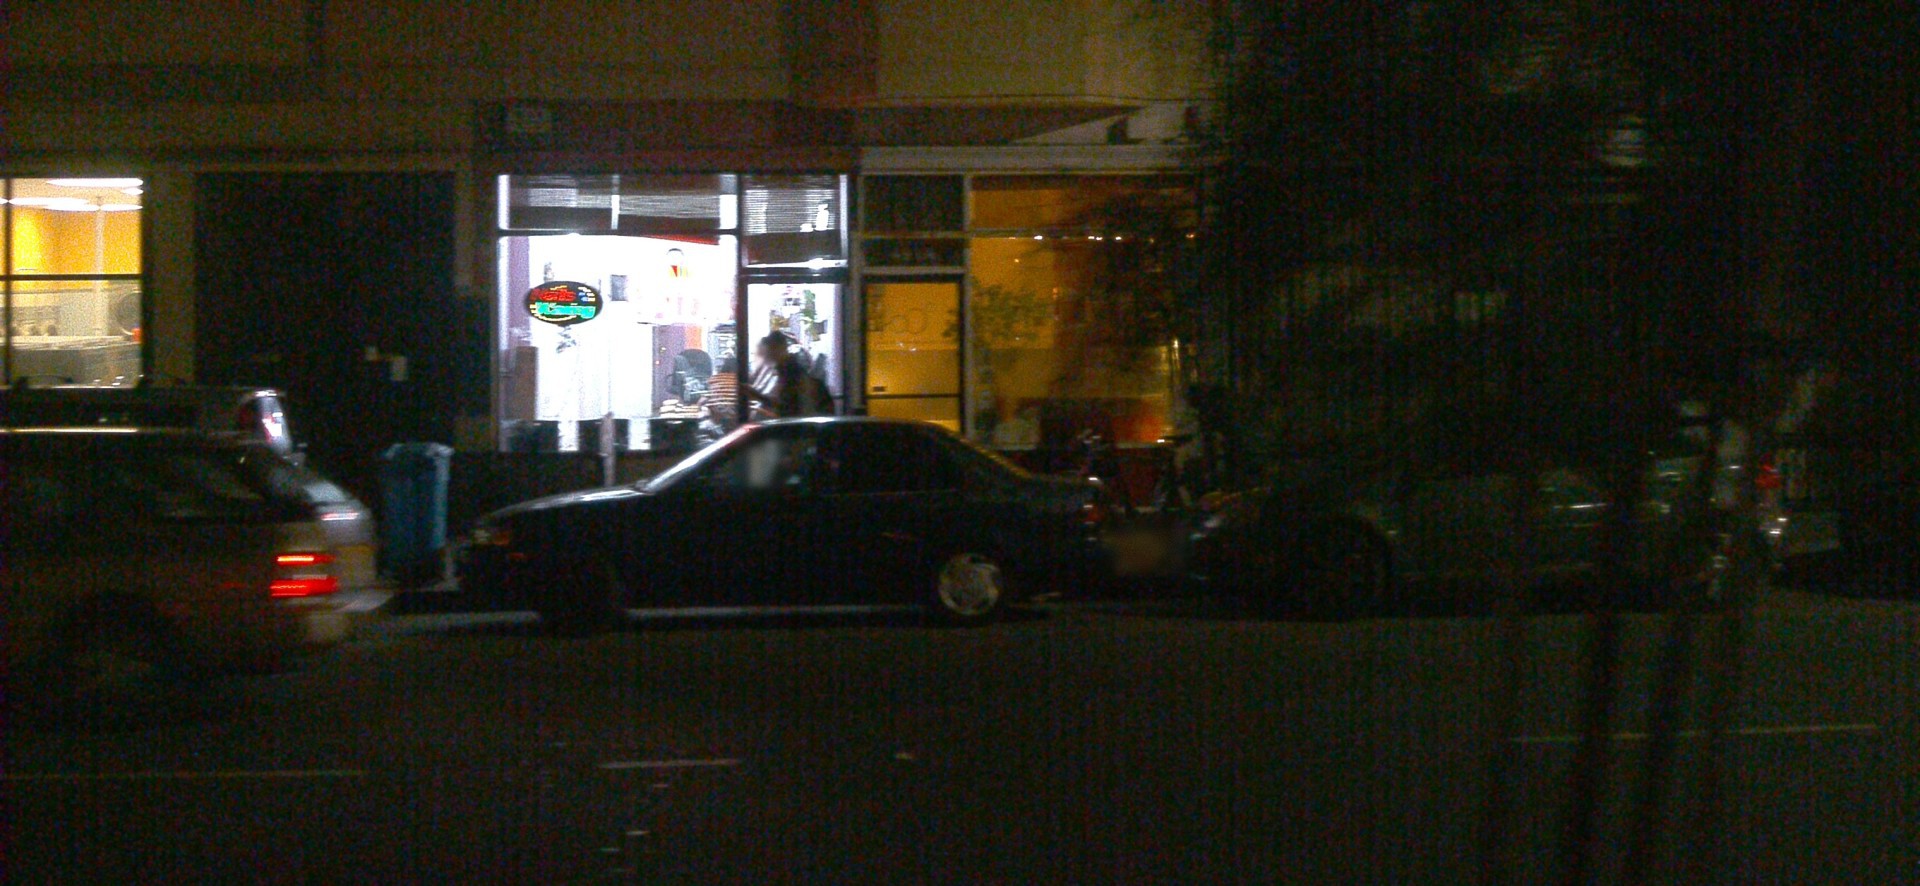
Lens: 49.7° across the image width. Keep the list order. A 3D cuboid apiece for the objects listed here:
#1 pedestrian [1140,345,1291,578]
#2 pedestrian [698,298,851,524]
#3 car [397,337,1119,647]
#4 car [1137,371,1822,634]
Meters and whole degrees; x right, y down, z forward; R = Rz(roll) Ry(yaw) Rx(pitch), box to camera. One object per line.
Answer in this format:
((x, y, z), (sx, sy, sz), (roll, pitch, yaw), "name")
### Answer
((1.882, 0.105, 15.367), (0.899, 1.608, 0.935), (0, 2, -8), "pedestrian")
((-1.461, -0.283, 16.130), (1.107, 1.648, 1.004), (0, 2, -10), "pedestrian")
((-1.304, 0.237, 13.775), (4.447, 1.766, 1.903), (0, 4, -6), "car")
((3.432, 0.339, 14.196), (4.169, 1.506, 1.900), (0, 4, -5), "car")
